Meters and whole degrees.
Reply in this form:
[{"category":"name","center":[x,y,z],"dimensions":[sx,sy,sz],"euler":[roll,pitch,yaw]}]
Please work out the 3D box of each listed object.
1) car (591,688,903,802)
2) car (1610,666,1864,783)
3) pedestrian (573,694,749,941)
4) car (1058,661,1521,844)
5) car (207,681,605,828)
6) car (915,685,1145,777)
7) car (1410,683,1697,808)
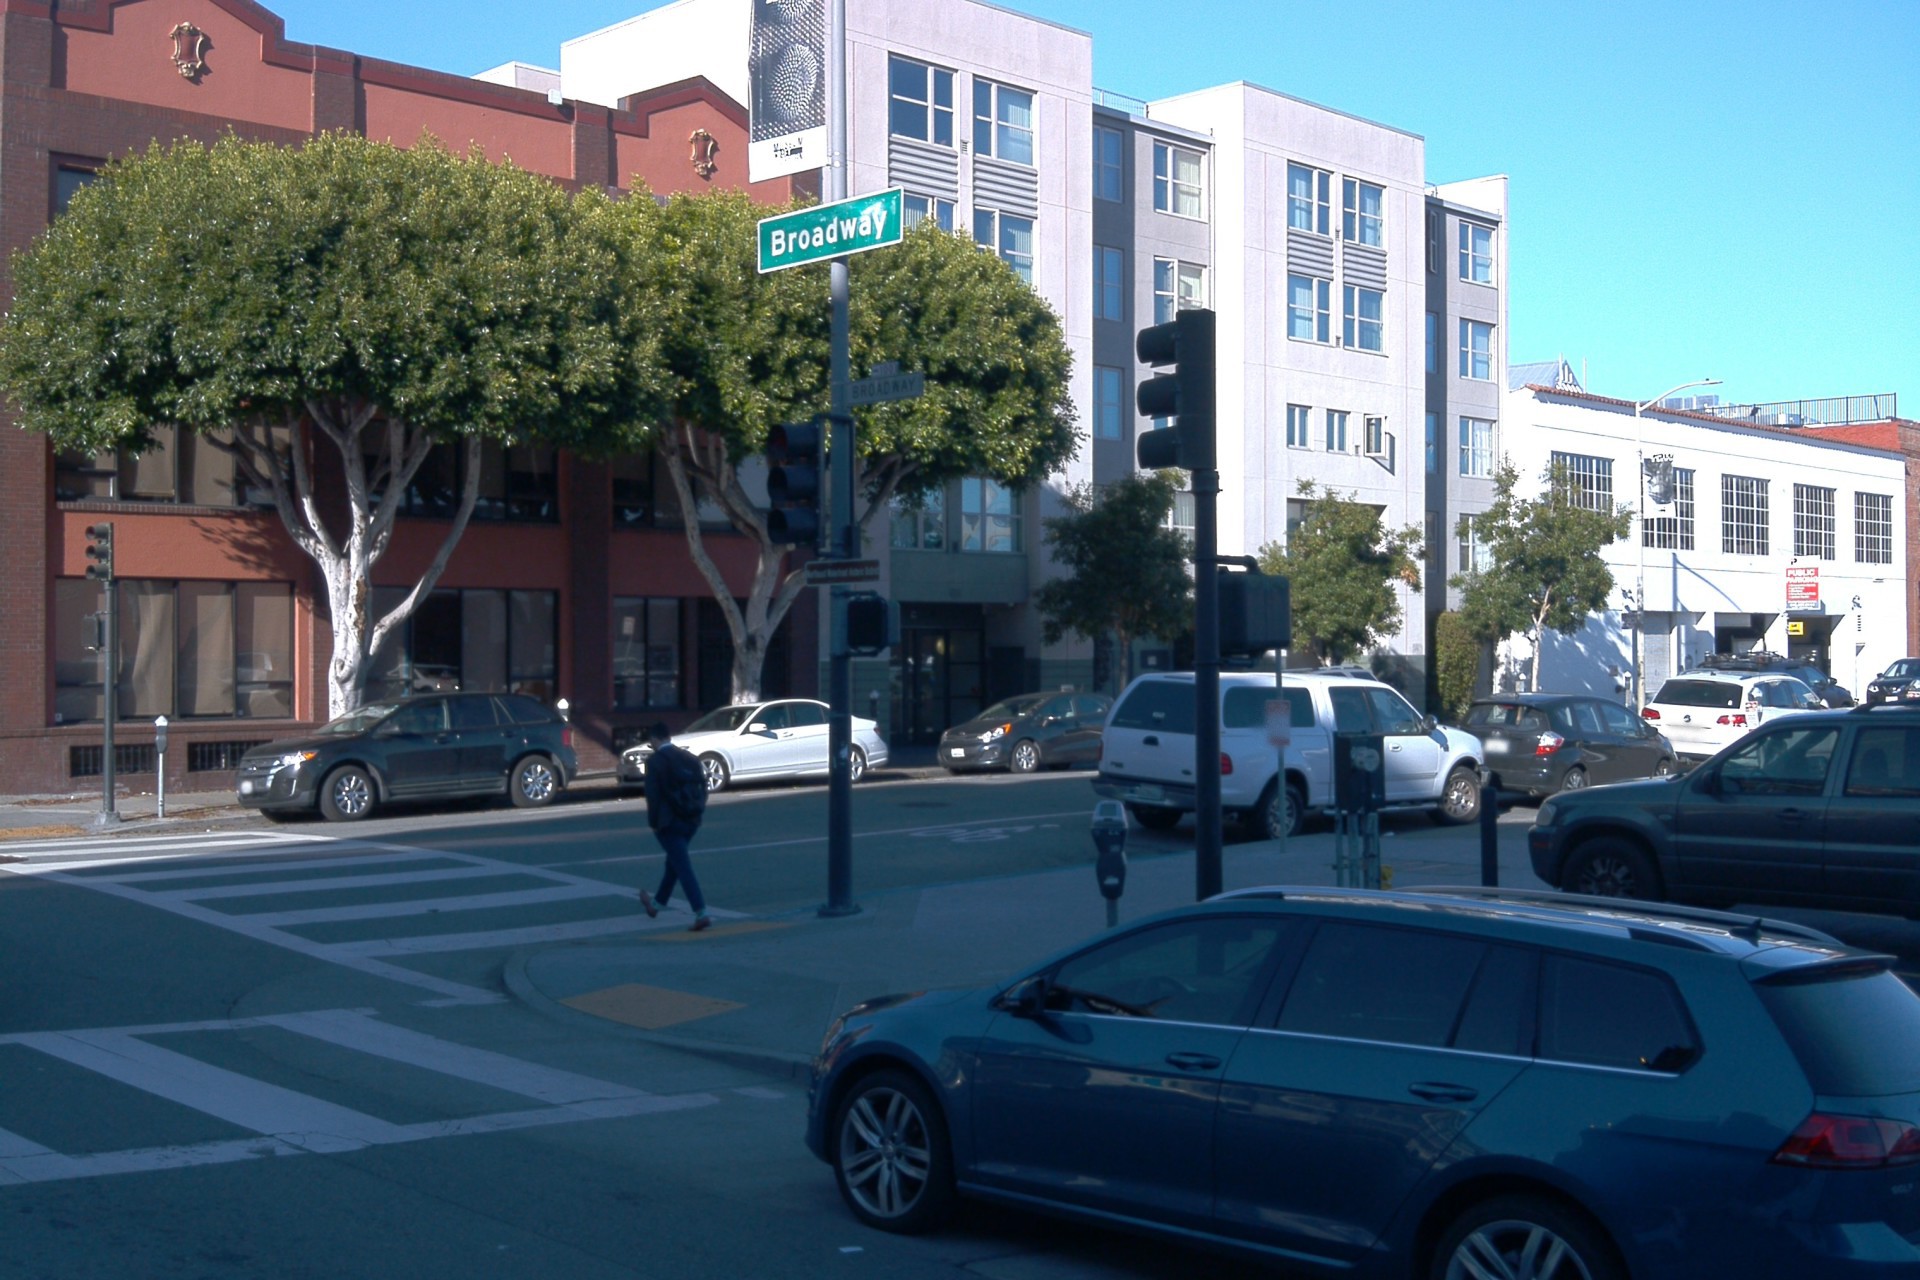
[{"category":"car","center":[-3.286,1.587,32.848],"dimensions":[4.602,1.620,2.045],"euler":[1,0,-44]},{"category":"car","center":[12.304,1.272,32.887],"dimensions":[2.078,1.690,4.563],"euler":[0,0,44]},{"category":"pedestrian","center":[-2.452,1.405,17.047],"dimensions":[0.828,1.900,1.276],"euler":[0,0,-44]},{"category":"car","center":[4.032,1.225,24.789],"dimensions":[5.715,1.920,2.394],"euler":[1,0,-43]},{"category":"car","center":[-7.503,1.484,28.577],"dimensions":[4.813,1.790,2.184],"euler":[1,0,-45]},{"category":"car","center":[1.289,1.577,37.277],"dimensions":[3.894,1.500,1.962],"euler":[1,0,-44]},{"category":"car","center":[8.139,1.376,28.446],"dimensions":[4.052,1.540,2.023],"euler":[1,0,-45]}]
